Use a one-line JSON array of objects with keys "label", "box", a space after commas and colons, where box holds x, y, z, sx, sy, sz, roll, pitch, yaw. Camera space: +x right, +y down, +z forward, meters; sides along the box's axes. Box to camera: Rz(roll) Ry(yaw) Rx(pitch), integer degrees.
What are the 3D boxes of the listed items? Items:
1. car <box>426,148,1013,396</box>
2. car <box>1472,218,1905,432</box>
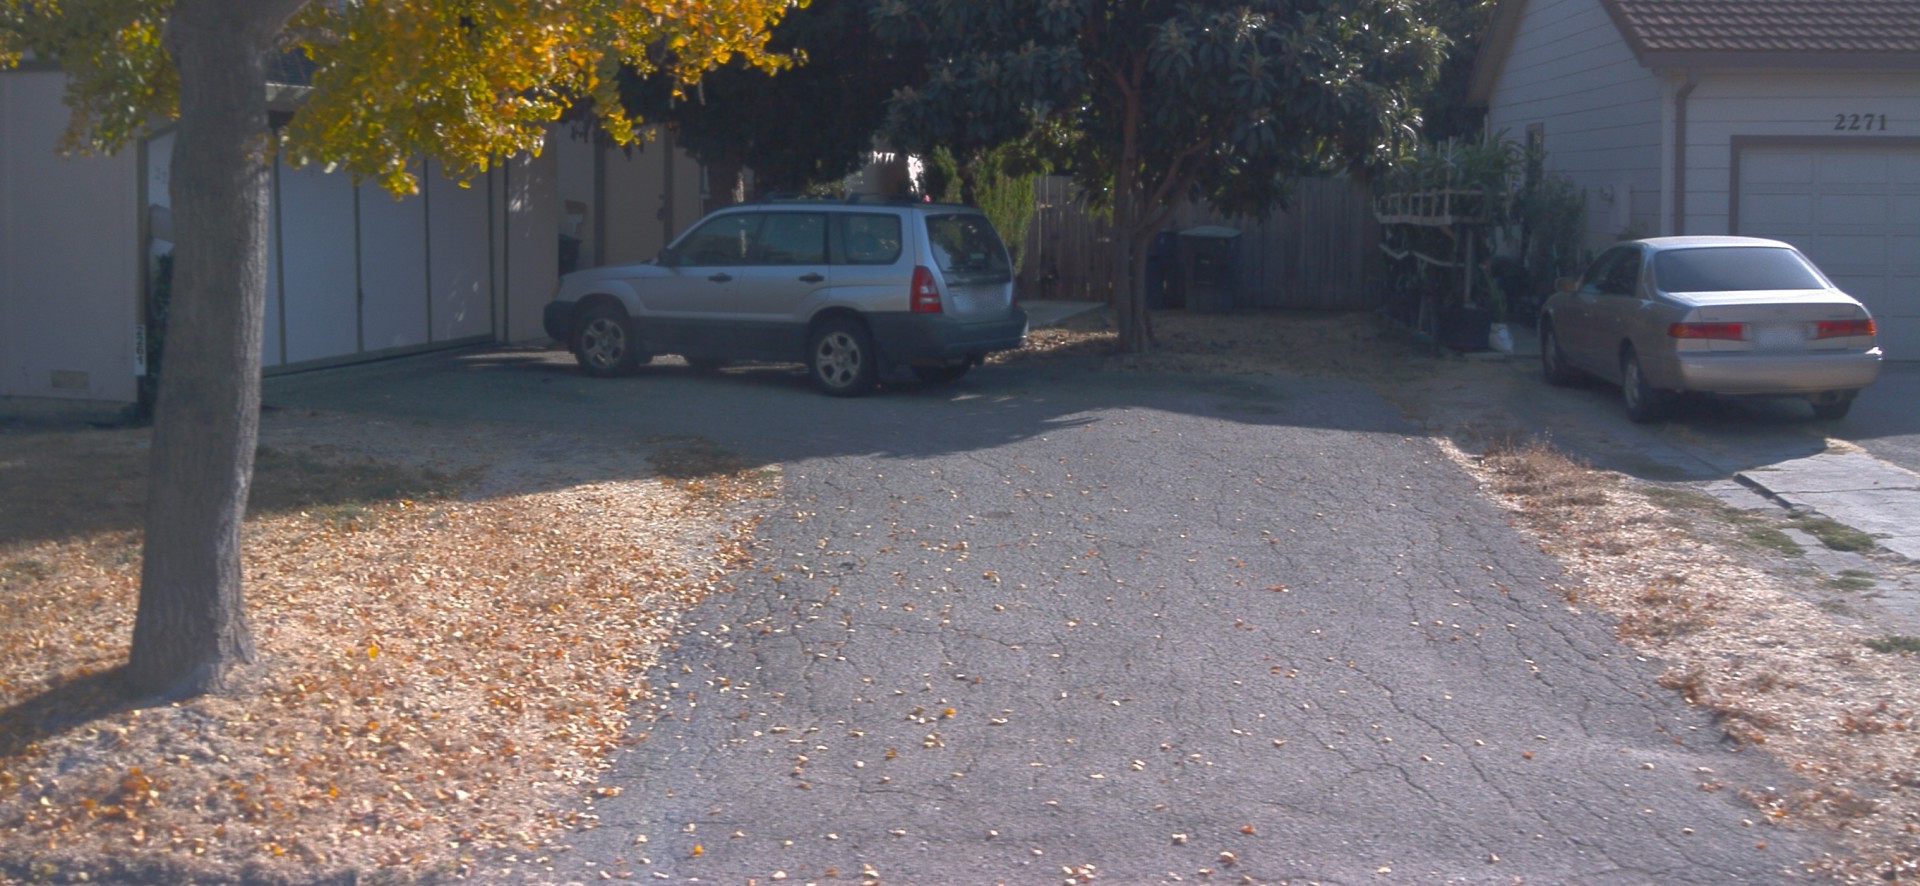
[{"label": "car", "box": [-2.070, -1.490, 17.661, 4.564, 1.857, 2.085, 3, 4, 30]}, {"label": "car", "box": [5.756, -1.057, 17.154, 2.066, 1.495, 4.647, 1, 5, 1]}]
